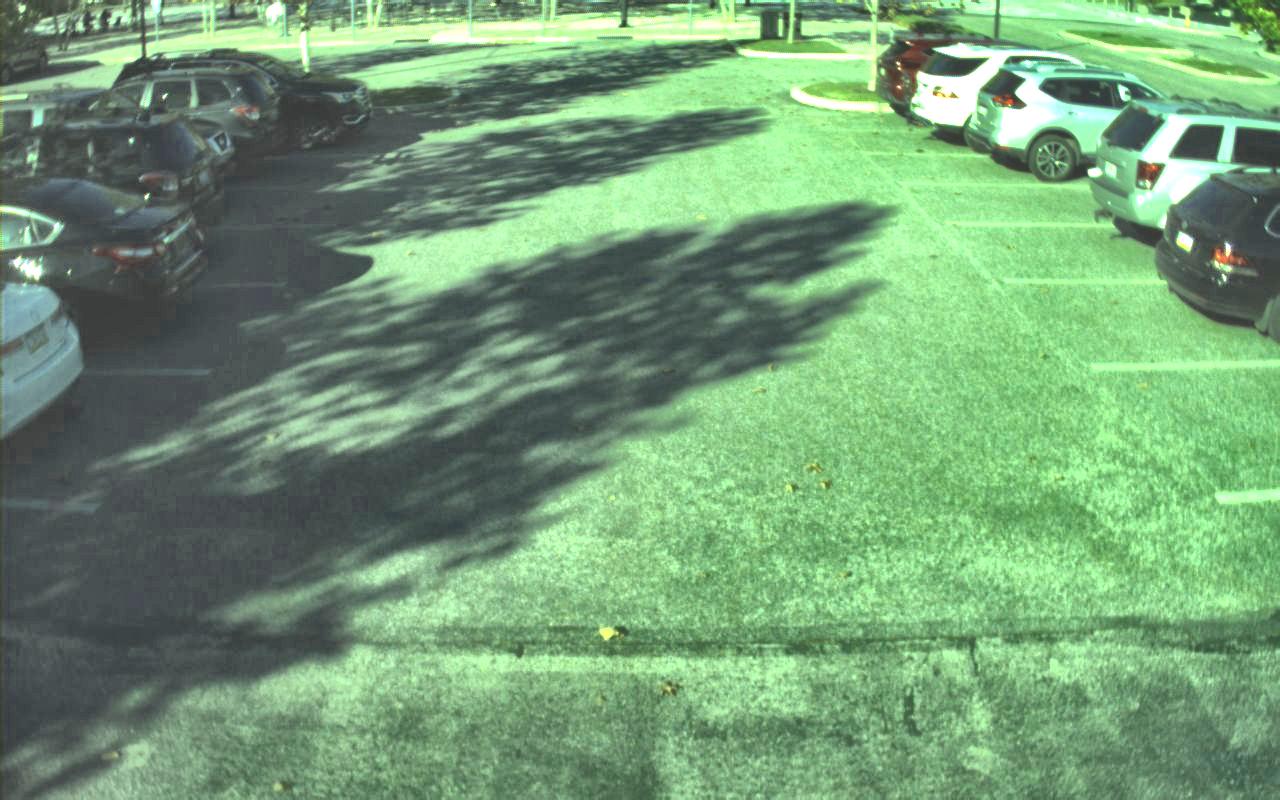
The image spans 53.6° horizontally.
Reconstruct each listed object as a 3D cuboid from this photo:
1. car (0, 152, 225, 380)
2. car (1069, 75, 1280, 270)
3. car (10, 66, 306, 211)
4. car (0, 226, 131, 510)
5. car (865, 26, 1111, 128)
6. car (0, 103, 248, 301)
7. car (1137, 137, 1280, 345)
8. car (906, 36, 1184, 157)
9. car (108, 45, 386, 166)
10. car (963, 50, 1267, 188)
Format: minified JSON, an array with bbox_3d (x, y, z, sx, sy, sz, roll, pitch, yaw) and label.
[{"bbox_3d":[-6.181,-1.250,10.513,4.336,1.572,1.926,-2,16,-4],"label":"car"},{"bbox_3d":[7.447,-2.661,13.183,4.641,1.890,2.045,-1,16,1],"label":"car"},{"bbox_3d":[-7.467,-4.062,17.991,4.469,1.707,1.995,-3,16,-7],"label":"car"},{"bbox_3d":[-6.192,-0.266,8.139,4.282,1.545,1.907,0,16,3],"label":"car"},{"bbox_3d":[6.725,-6.259,23.163,4.505,1.769,2.003,-2,16,-3],"label":"car"},{"bbox_3d":[-6.789,-2.271,12.985,4.406,1.682,1.976,-3,16,-5],"label":"car"},{"bbox_3d":[7.249,-1.576,10.803,4.473,1.611,1.960,-2,16,-2],"label":"car"},{"bbox_3d":[6.998,-5.241,20.467,4.576,1.825,2.018,-2,16,-2],"label":"car"},{"bbox_3d":[-6.960,-5.140,20.756,4.656,1.705,2.032,2,17,11],"label":"car"},{"bbox_3d":[7.341,-4.342,18.027,4.546,1.791,1.997,-1,16,1],"label":"car"}]
